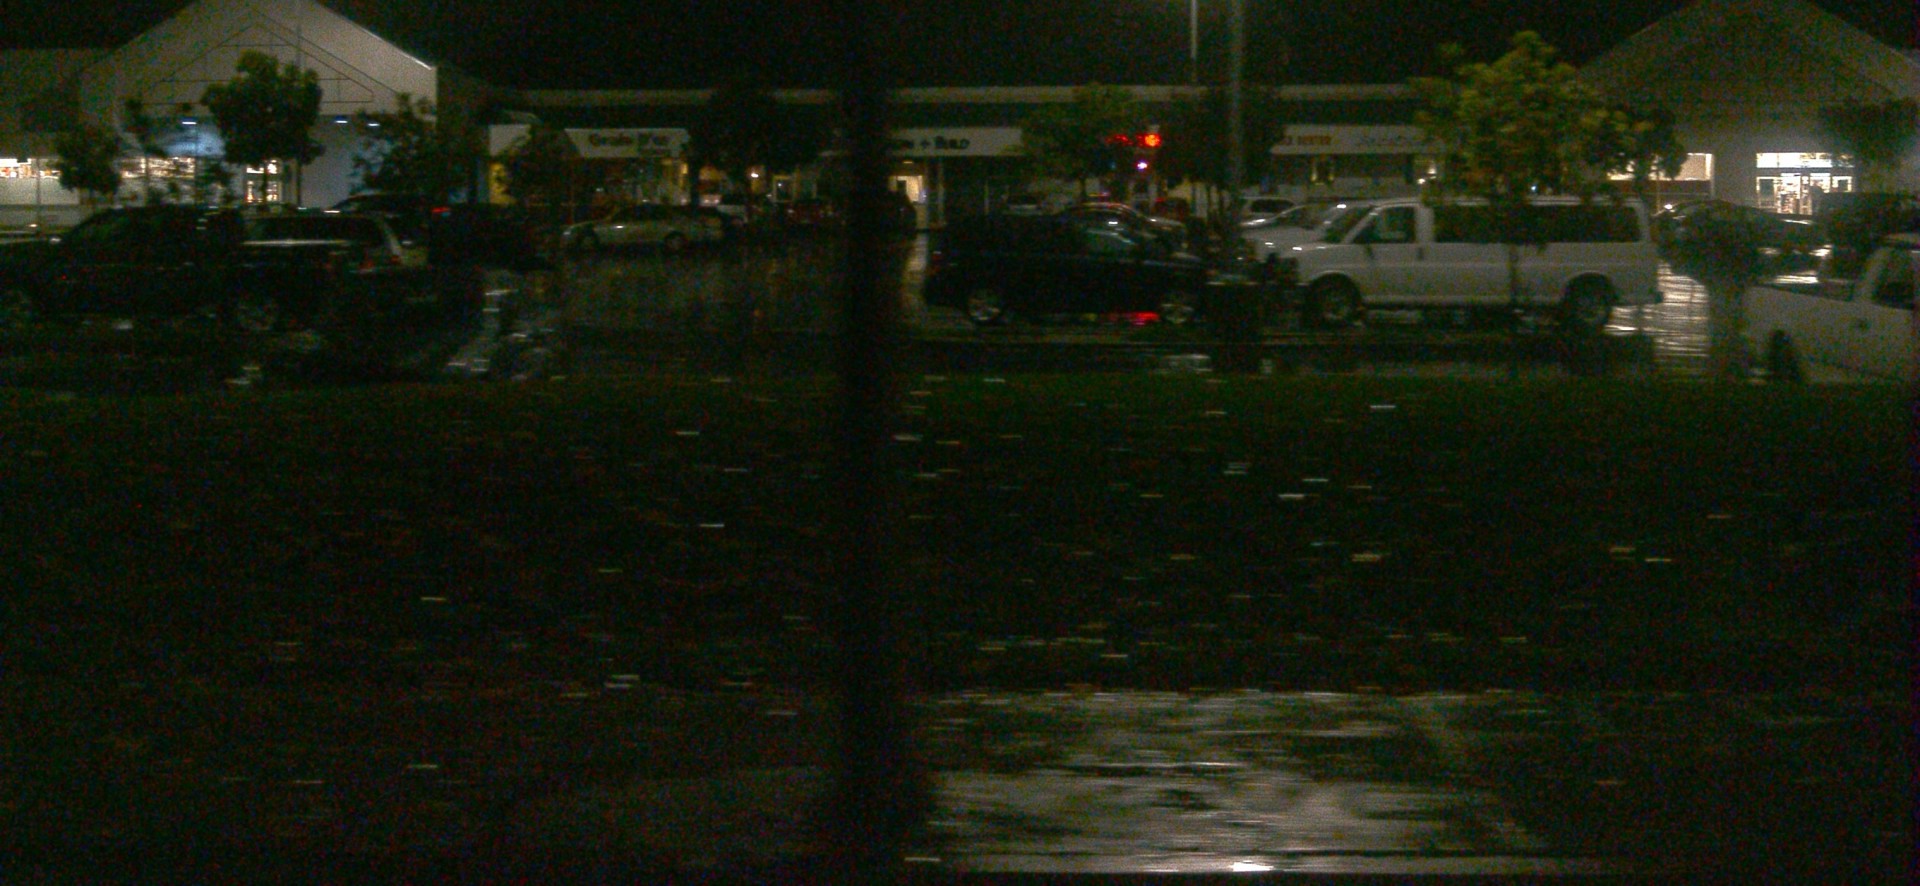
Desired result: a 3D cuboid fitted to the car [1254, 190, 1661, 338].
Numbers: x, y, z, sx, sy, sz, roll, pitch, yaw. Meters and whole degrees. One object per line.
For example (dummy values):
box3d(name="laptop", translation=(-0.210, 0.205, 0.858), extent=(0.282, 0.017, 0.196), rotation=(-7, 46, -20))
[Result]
box3d(name="car", translation=(7.748, -2.852, 32.910), extent=(6.041, 2.209, 2.086), rotation=(1, 2, 6))

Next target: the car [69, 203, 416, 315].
box3d(name="car", translation=(-12.344, -3.190, 36.010), extent=(5.241, 1.838, 2.121), rotation=(1, 3, 2))

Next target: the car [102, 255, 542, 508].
box3d(name="car", translation=(-5.116, -0.672, 17.536), extent=(2.128, 1.804, 5.022), rotation=(0, 5, 0))

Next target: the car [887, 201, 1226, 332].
box3d(name="car", translation=(1.572, -2.850, 33.412), extent=(5.250, 1.998, 2.177), rotation=(1, 3, 4))

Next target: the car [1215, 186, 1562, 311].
box3d(name="car", translation=(7.846, -3.621, 38.686), extent=(6.125, 2.198, 2.453), rotation=(1, 3, 6))
